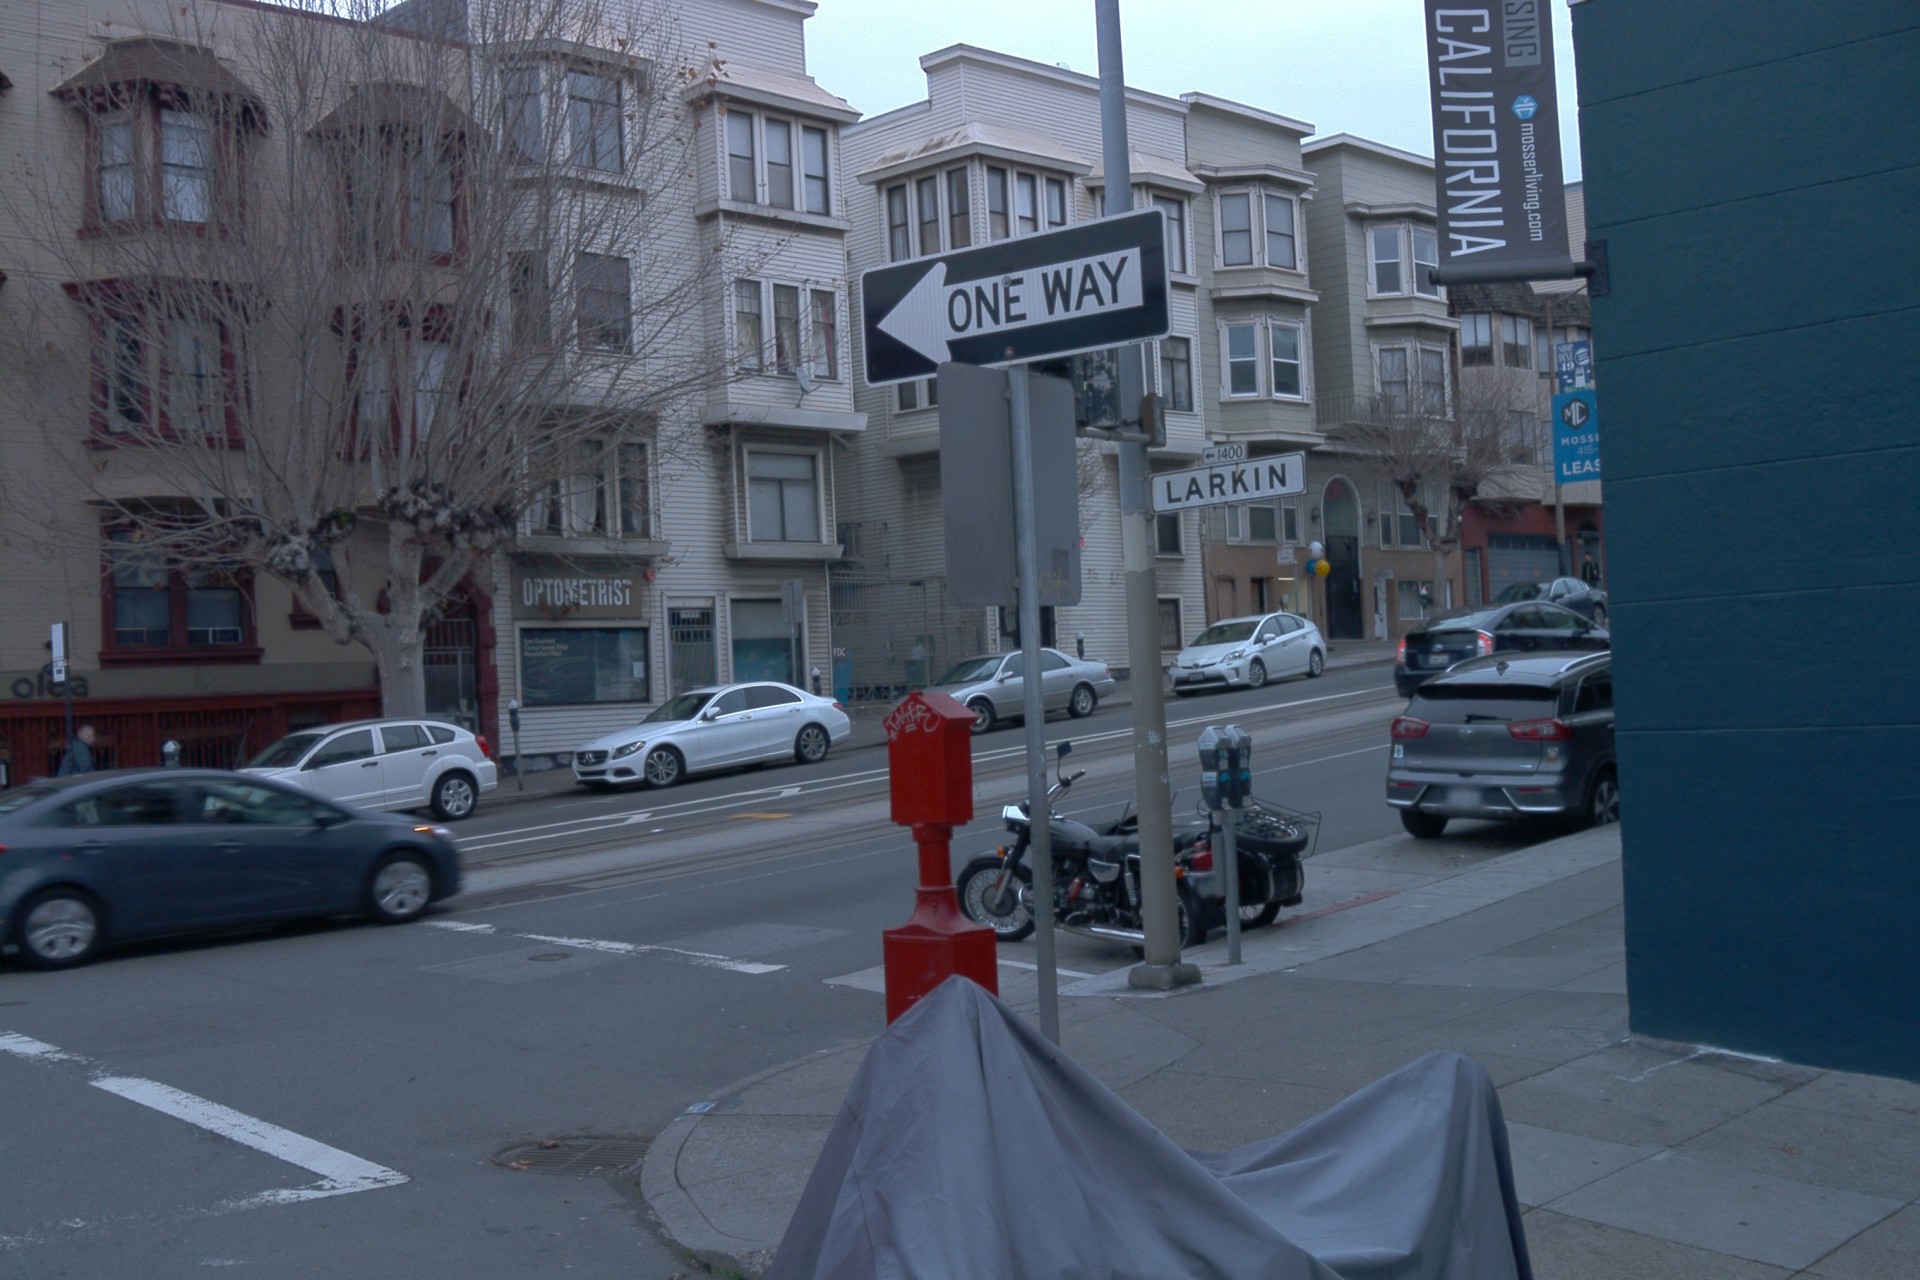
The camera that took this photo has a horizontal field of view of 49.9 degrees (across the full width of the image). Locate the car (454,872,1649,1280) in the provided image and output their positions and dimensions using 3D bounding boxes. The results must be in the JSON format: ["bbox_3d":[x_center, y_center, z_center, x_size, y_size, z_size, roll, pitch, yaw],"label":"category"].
[{"bbox_3d":[0.333,1.392,4.287,2.490,1.520,1.048,-1,1,-44],"label":"car"}]

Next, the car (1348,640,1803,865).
[{"bbox_3d":[5.647,0.882,18.583,2.132,1.717,4.606,0,1,42],"label":"car"}]

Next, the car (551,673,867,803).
[{"bbox_3d":[-3.869,1.462,32.362,4.589,1.757,2.074,-1,1,-44],"label":"car"}]

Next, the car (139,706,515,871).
[{"bbox_3d":[-8.479,1.915,27.921,2.053,1.847,4.407,1,1,44],"label":"car"}]

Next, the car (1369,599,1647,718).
[{"bbox_3d":[8.292,0.236,31.042,2.078,1.660,4.518,1,1,44],"label":"car"}]

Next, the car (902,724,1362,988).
[{"bbox_3d":[1.135,1.377,14.055,2.745,1.460,1.540,0,1,42],"label":"car"}]

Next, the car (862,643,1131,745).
[{"bbox_3d":[0.716,0.915,37.121,4.801,1.657,2.084,-1,1,-45],"label":"car"}]
